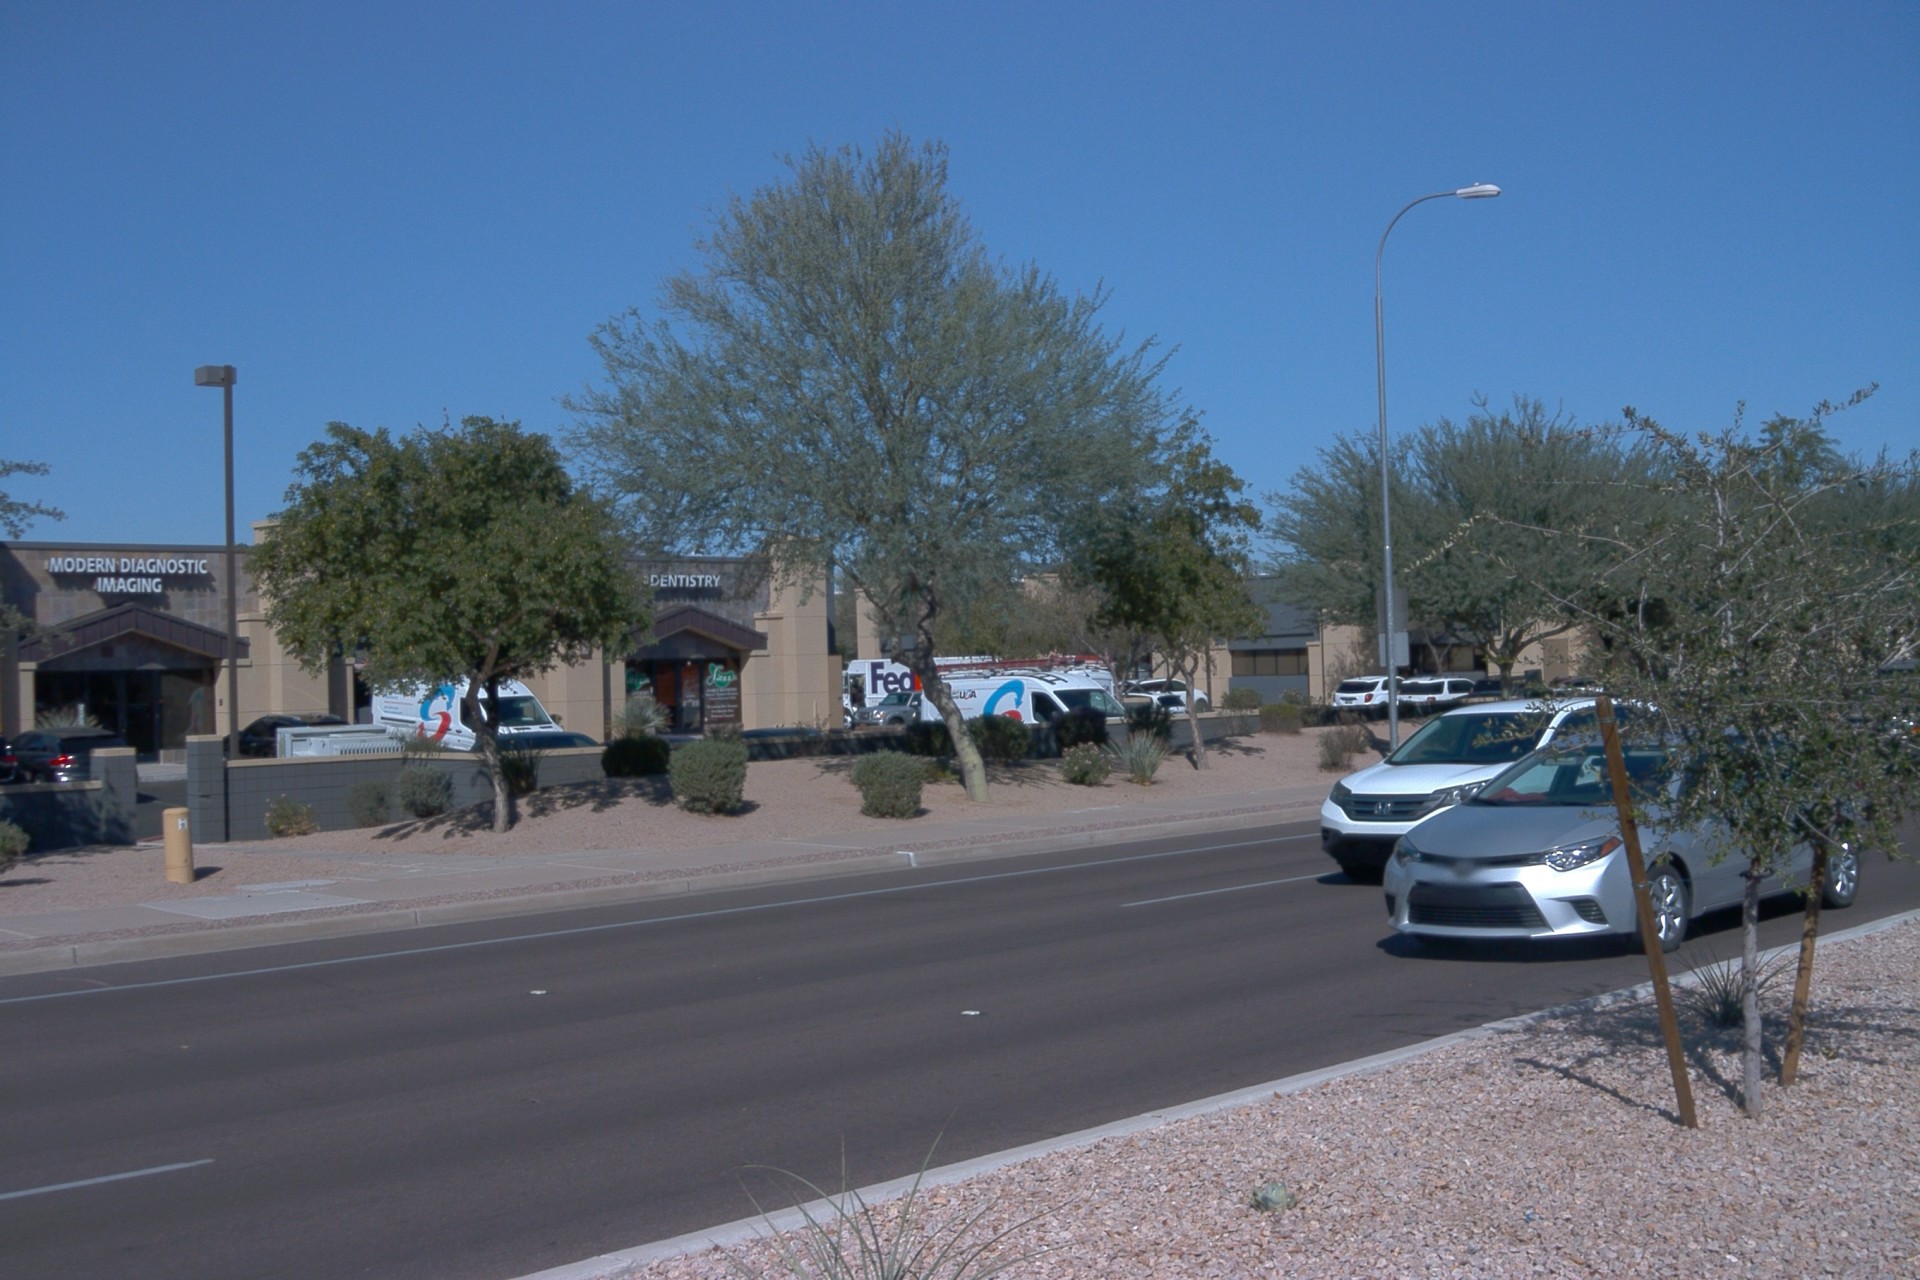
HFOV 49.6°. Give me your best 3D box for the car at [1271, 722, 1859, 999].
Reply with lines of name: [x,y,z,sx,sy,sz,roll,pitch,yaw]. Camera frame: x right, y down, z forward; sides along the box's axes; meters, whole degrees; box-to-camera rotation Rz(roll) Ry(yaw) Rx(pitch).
car: [4.359,1.391,14.574,4.470,1.450,2.033,0,0,-45]

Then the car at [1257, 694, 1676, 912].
car: [4.840,1.418,19.523,4.271,1.710,1.835,0,0,-44]
